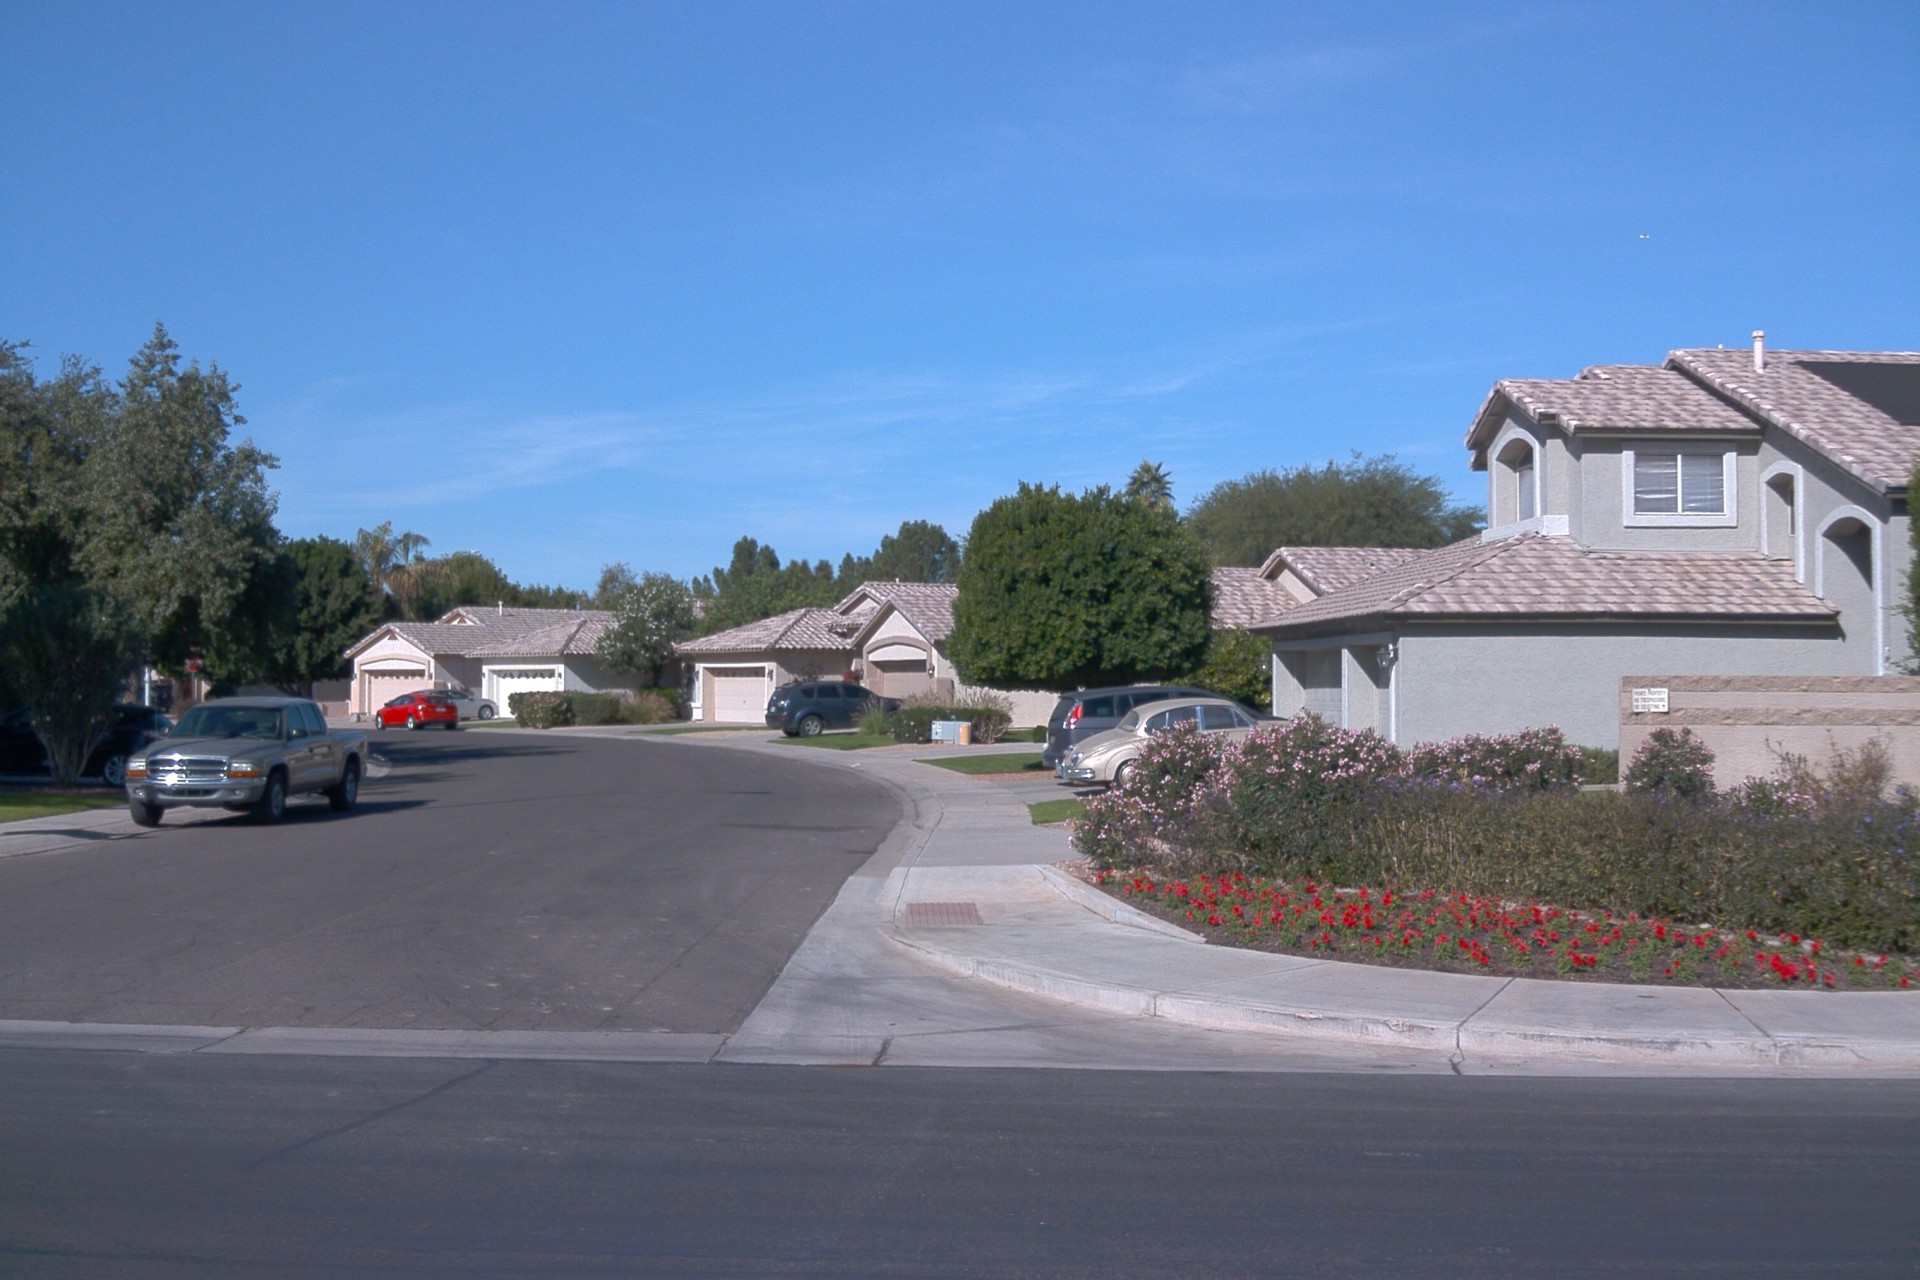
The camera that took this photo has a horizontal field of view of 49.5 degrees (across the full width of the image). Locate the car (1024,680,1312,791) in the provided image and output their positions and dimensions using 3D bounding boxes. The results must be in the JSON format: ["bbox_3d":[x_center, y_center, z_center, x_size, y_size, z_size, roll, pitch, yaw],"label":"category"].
[{"bbox_3d":[3.514,1.599,35.631,4.597,1.810,1.849,0,-1,-9],"label":"car"}]

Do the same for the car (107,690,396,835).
[{"bbox_3d":[-9.877,1.641,29.632,2.213,1.790,5.561,0,-1,0],"label":"car"}]

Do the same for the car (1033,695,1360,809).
[{"bbox_3d":[3.682,1.748,33.064,4.859,1.690,2.121,0,-1,-5],"label":"car"}]
